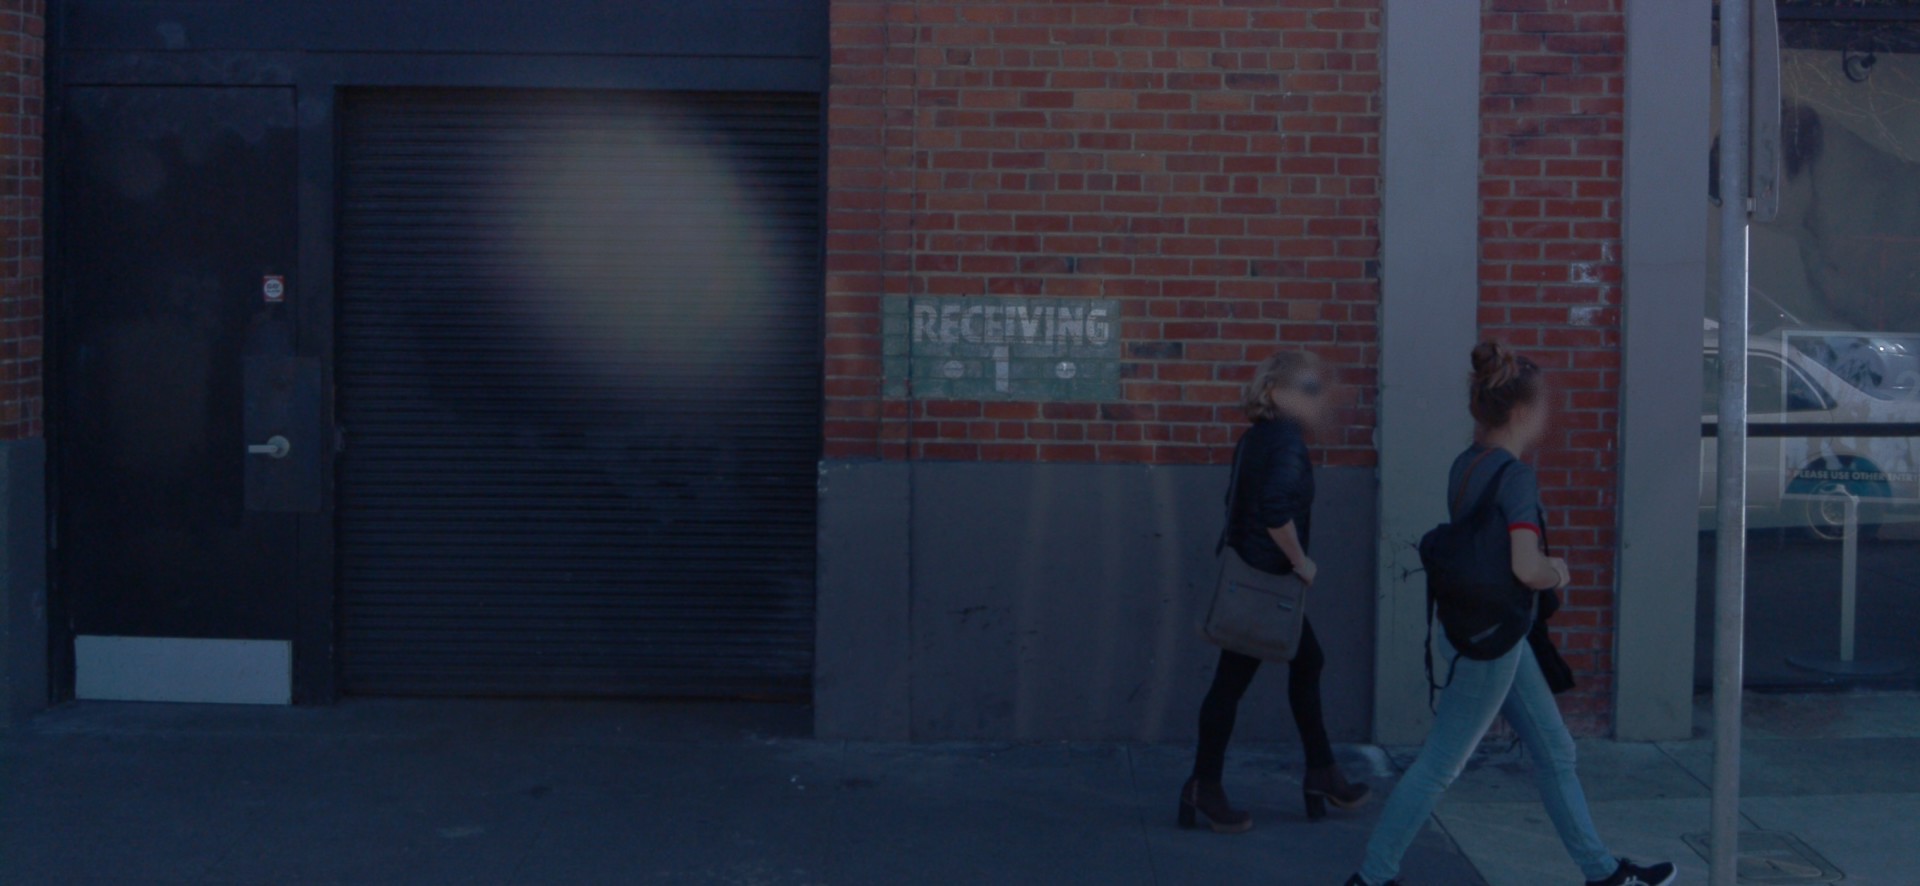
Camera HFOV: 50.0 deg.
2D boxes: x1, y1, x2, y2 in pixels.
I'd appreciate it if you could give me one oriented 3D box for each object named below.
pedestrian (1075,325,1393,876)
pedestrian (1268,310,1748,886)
[{"bbox_3d":[0.862,0.462,6.720,0.923,1.648,0.814,0,2,0],"label":"pedestrian"},{"bbox_3d":[1.486,0.532,5.793,1.154,1.767,0.861,1,2,4],"label":"pedestrian"}]
